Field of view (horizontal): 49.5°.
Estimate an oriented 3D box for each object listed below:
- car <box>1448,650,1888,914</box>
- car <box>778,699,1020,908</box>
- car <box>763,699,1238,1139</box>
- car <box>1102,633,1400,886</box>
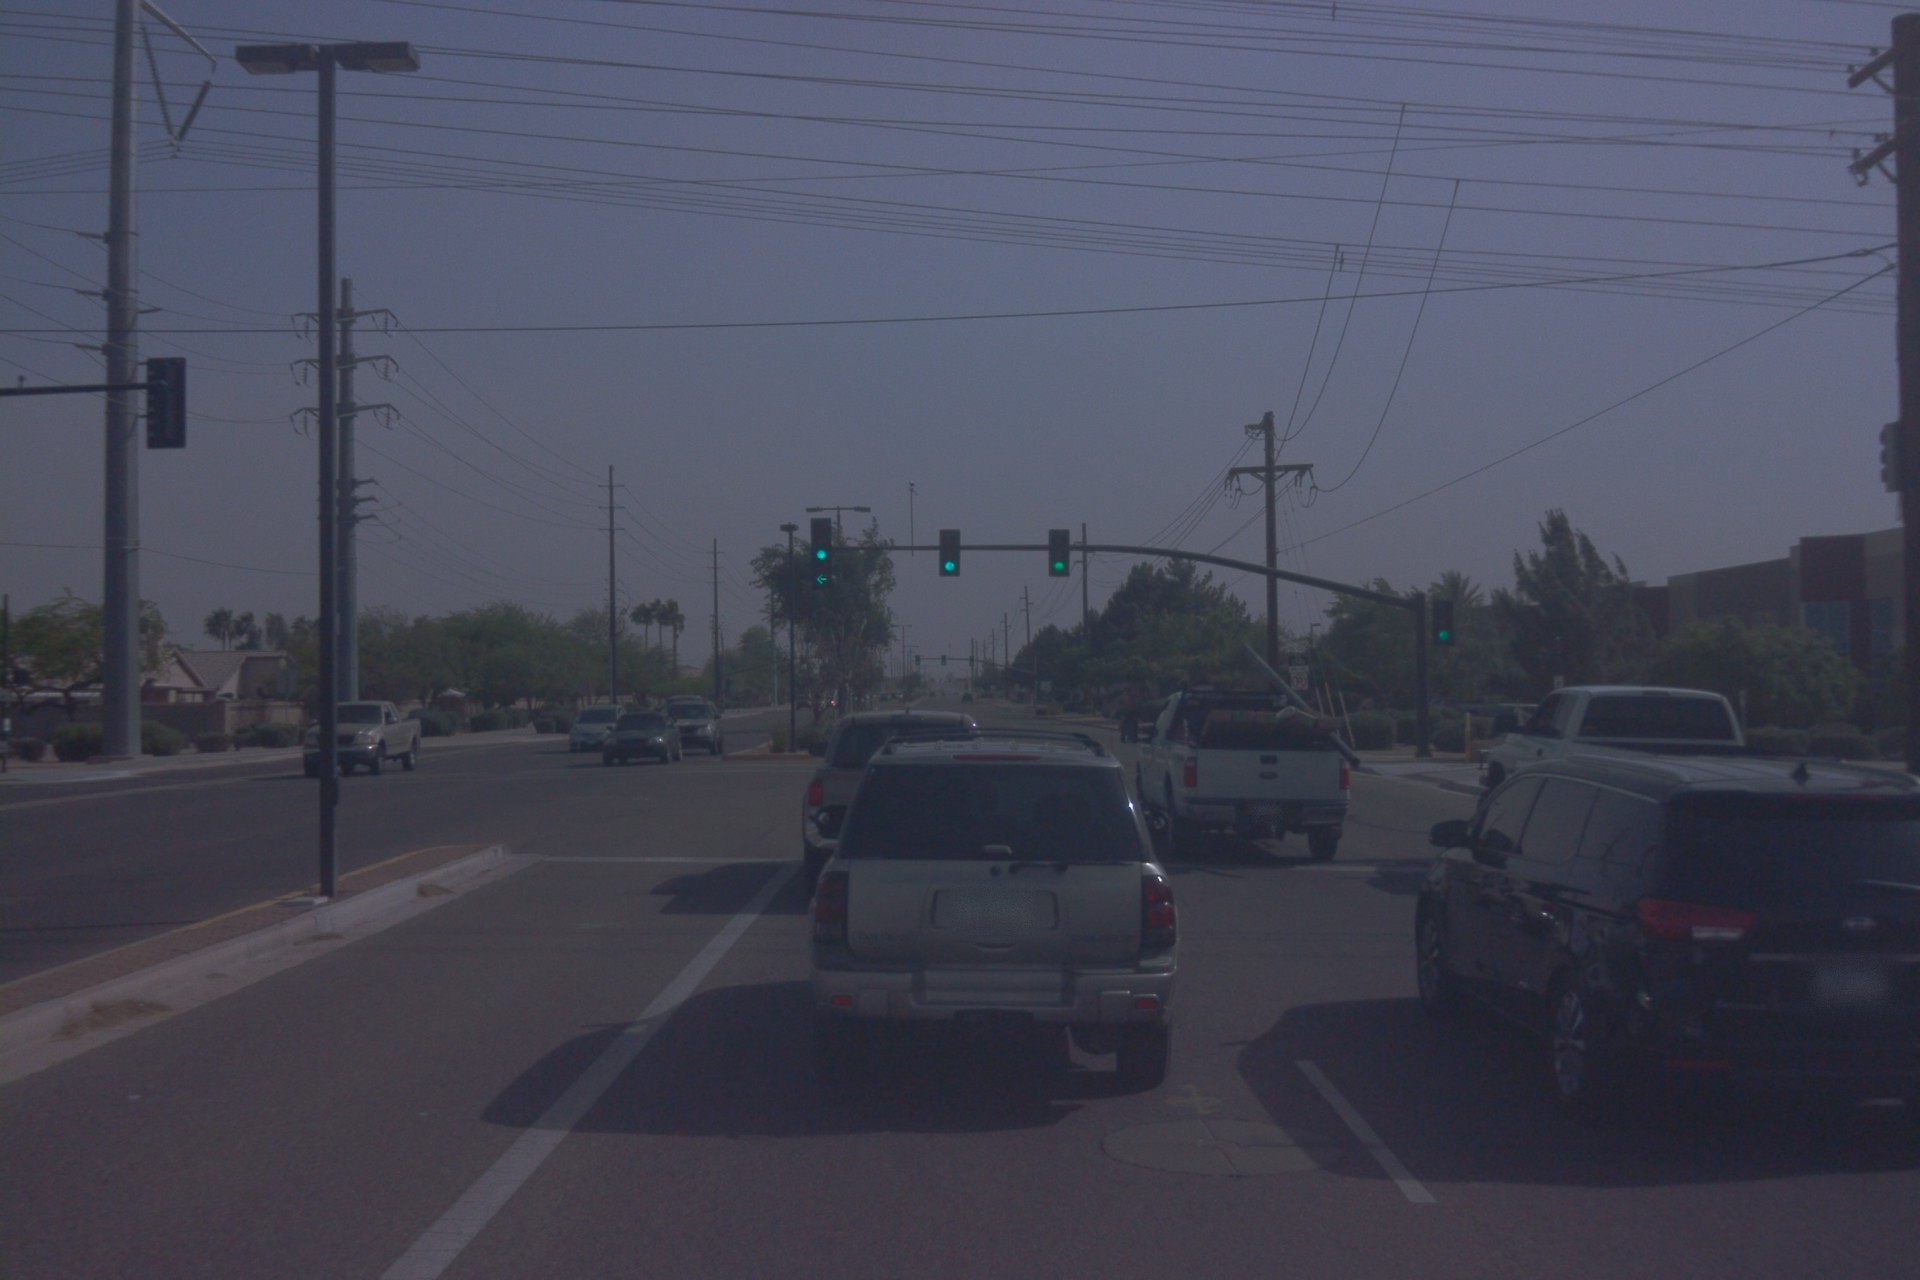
[{"bbox_3d":[7.106,1.312,21.891,2.415,2.350,6.496,0,-1,0],"label":"car"},{"bbox_3d":[-0.542,1.524,20.735,2.149,1.780,4.304,0,-1,0],"label":"car"},{"bbox_3d":[0.194,1.368,12.060,2.201,1.960,4.684,0,-1,0],"label":"car"},{"bbox_3d":[3.370,1.330,25.829,2.664,2.710,6.759,0,-1,-1],"label":"car"}]
